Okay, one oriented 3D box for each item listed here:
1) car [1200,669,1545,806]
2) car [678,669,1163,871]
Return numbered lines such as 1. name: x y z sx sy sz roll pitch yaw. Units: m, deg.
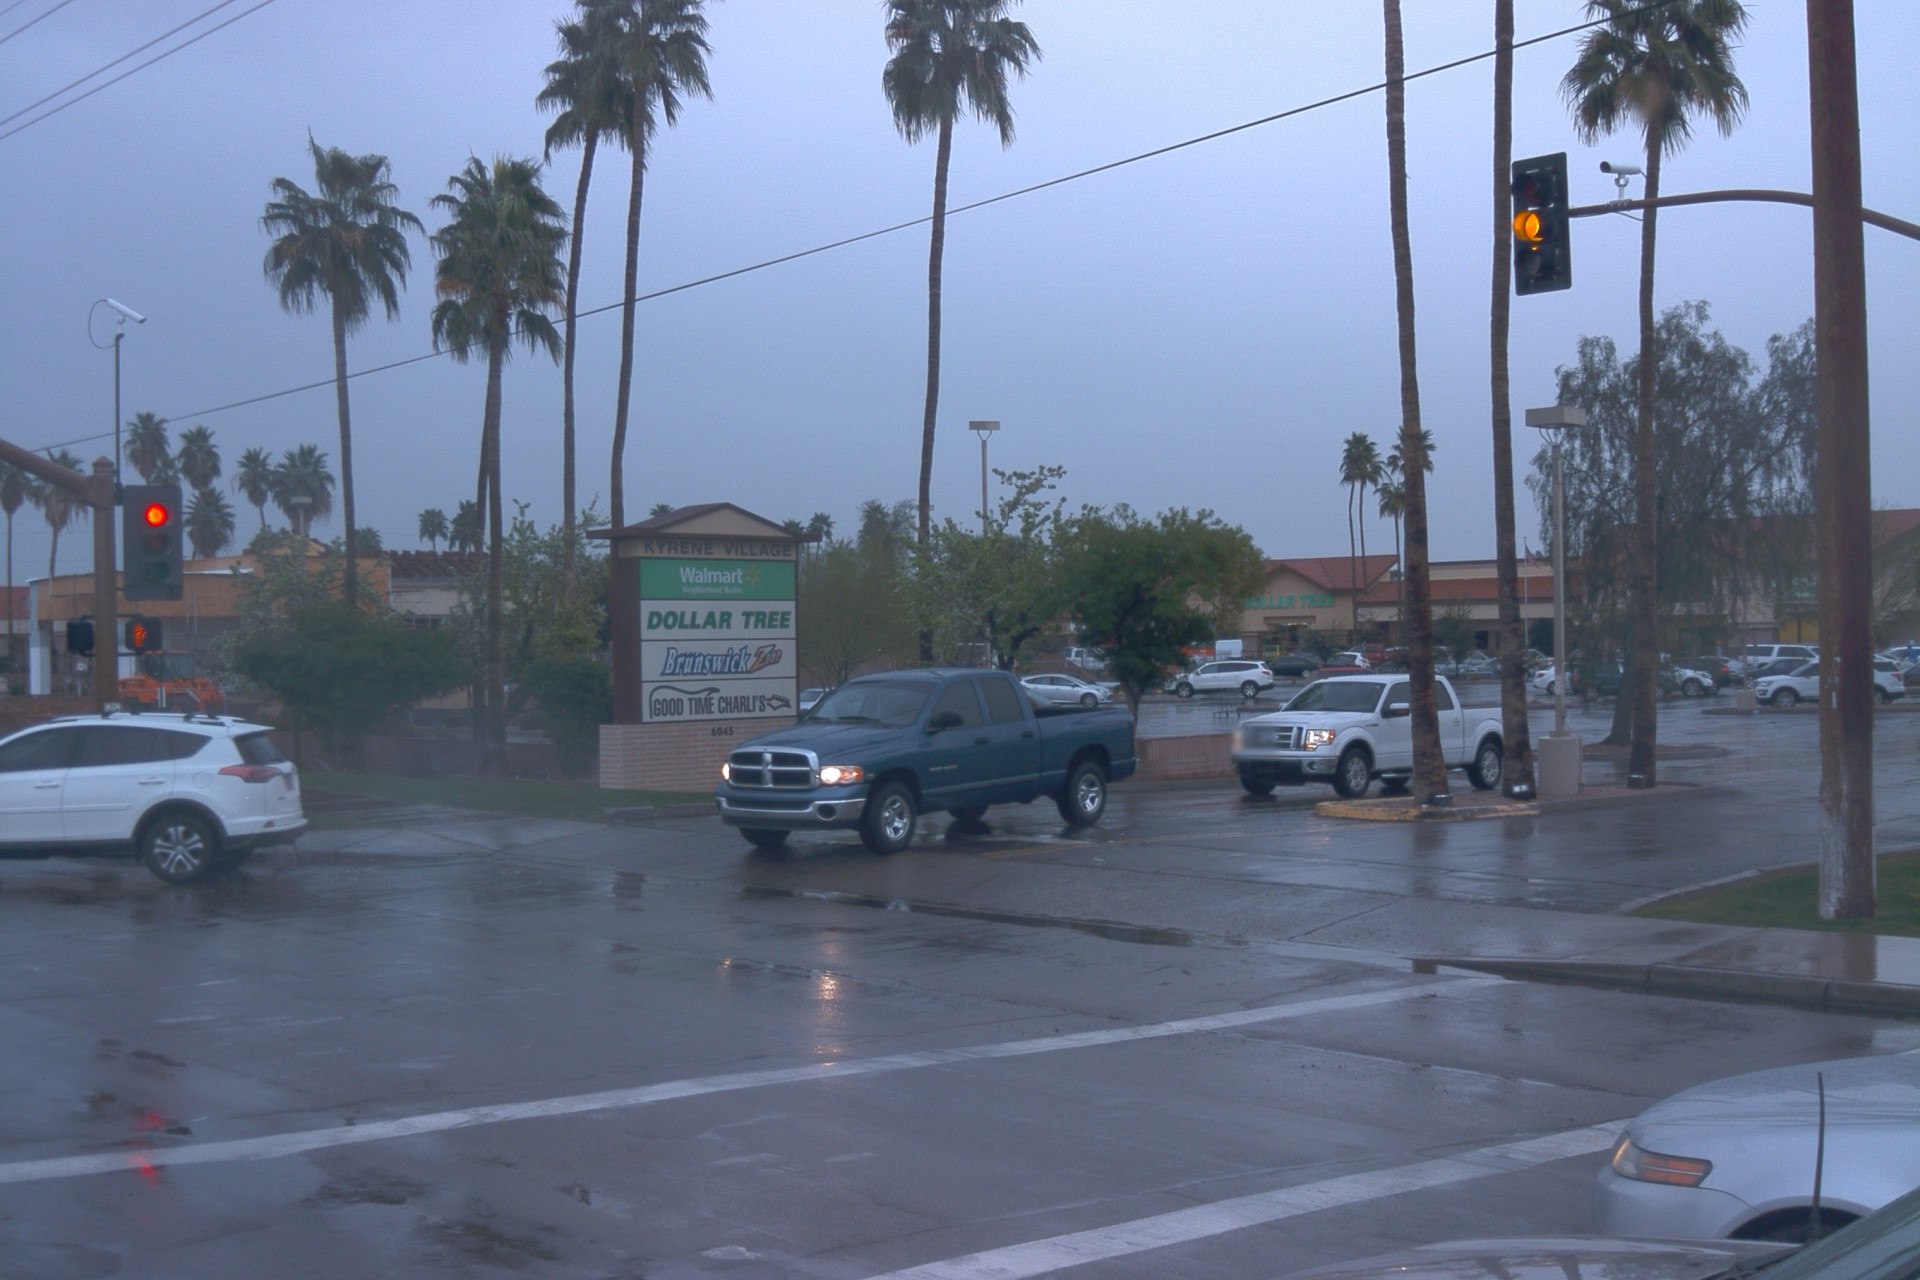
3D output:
1. car: 6.675 1.454 33.207 5.840 1.980 2.534 1 -1 -44
2. car: -0.281 1.344 23.846 2.433 2.000 5.767 0 -1 39
